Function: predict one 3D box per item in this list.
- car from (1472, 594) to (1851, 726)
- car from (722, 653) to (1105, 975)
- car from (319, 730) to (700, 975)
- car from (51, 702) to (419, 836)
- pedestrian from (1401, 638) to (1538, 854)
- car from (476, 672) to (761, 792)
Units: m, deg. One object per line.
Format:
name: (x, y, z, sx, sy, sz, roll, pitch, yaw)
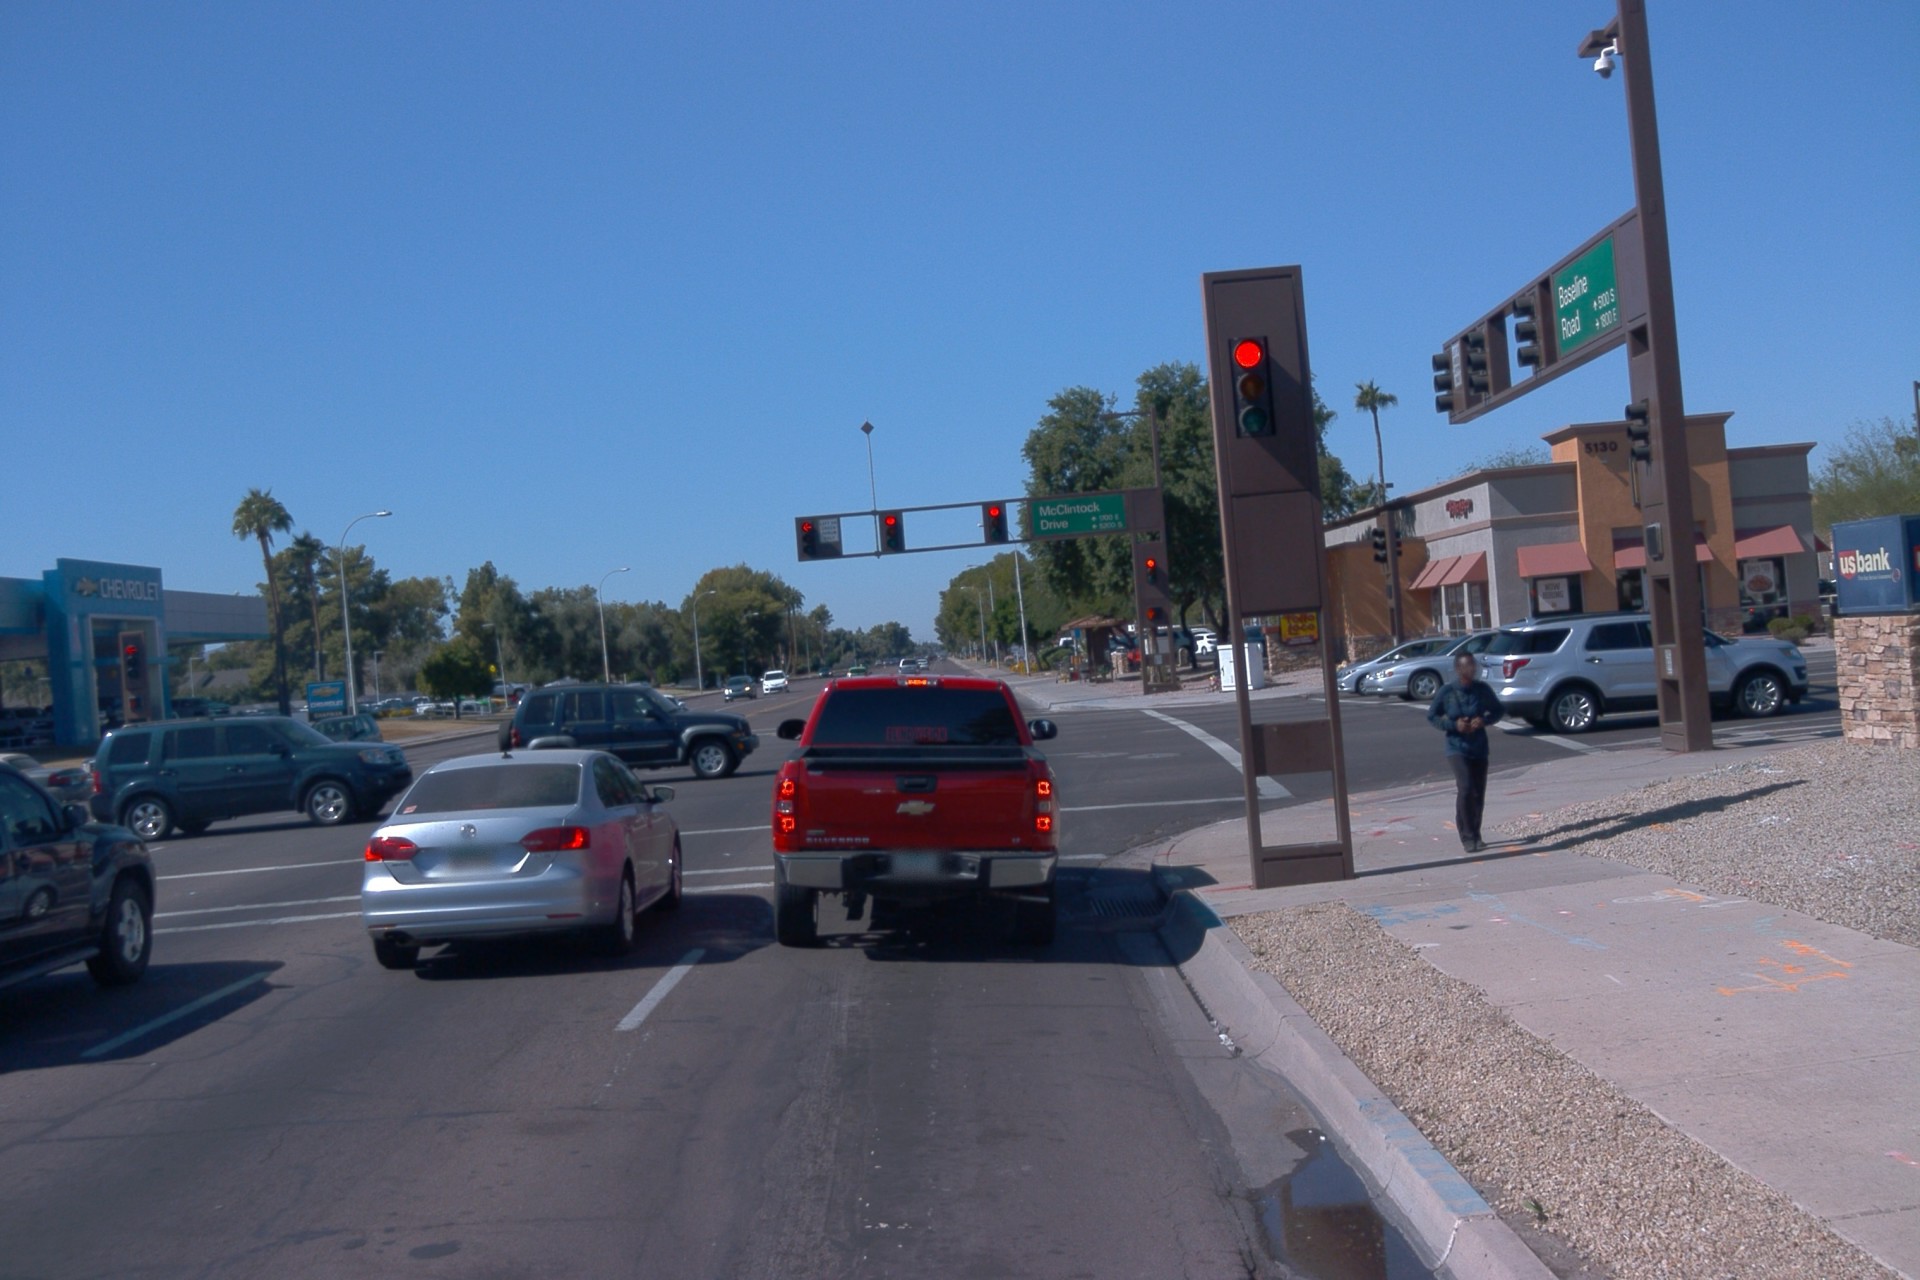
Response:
car: (10.621, 0.314, 31.851, 5.059, 1.900, 2.145, 1, -1, 1)
car: (-0.352, 1.205, 16.787, 2.538, 2.120, 5.758, 1, -1, -1)
car: (-3.211, 1.481, 15.764, 1.920, 1.450, 4.335, 1, -1, 0)
car: (-11.048, 1.948, 32.012, 4.894, 1.904, 2.112, 1, -1, 1)
pedestrian: (4.189, 0.850, 17.200, 0.807, 1.714, 1.172, 1, -1, -1)
car: (-5.797, 1.551, 35.797, 4.528, 1.940, 2.093, 1, -1, 0)
